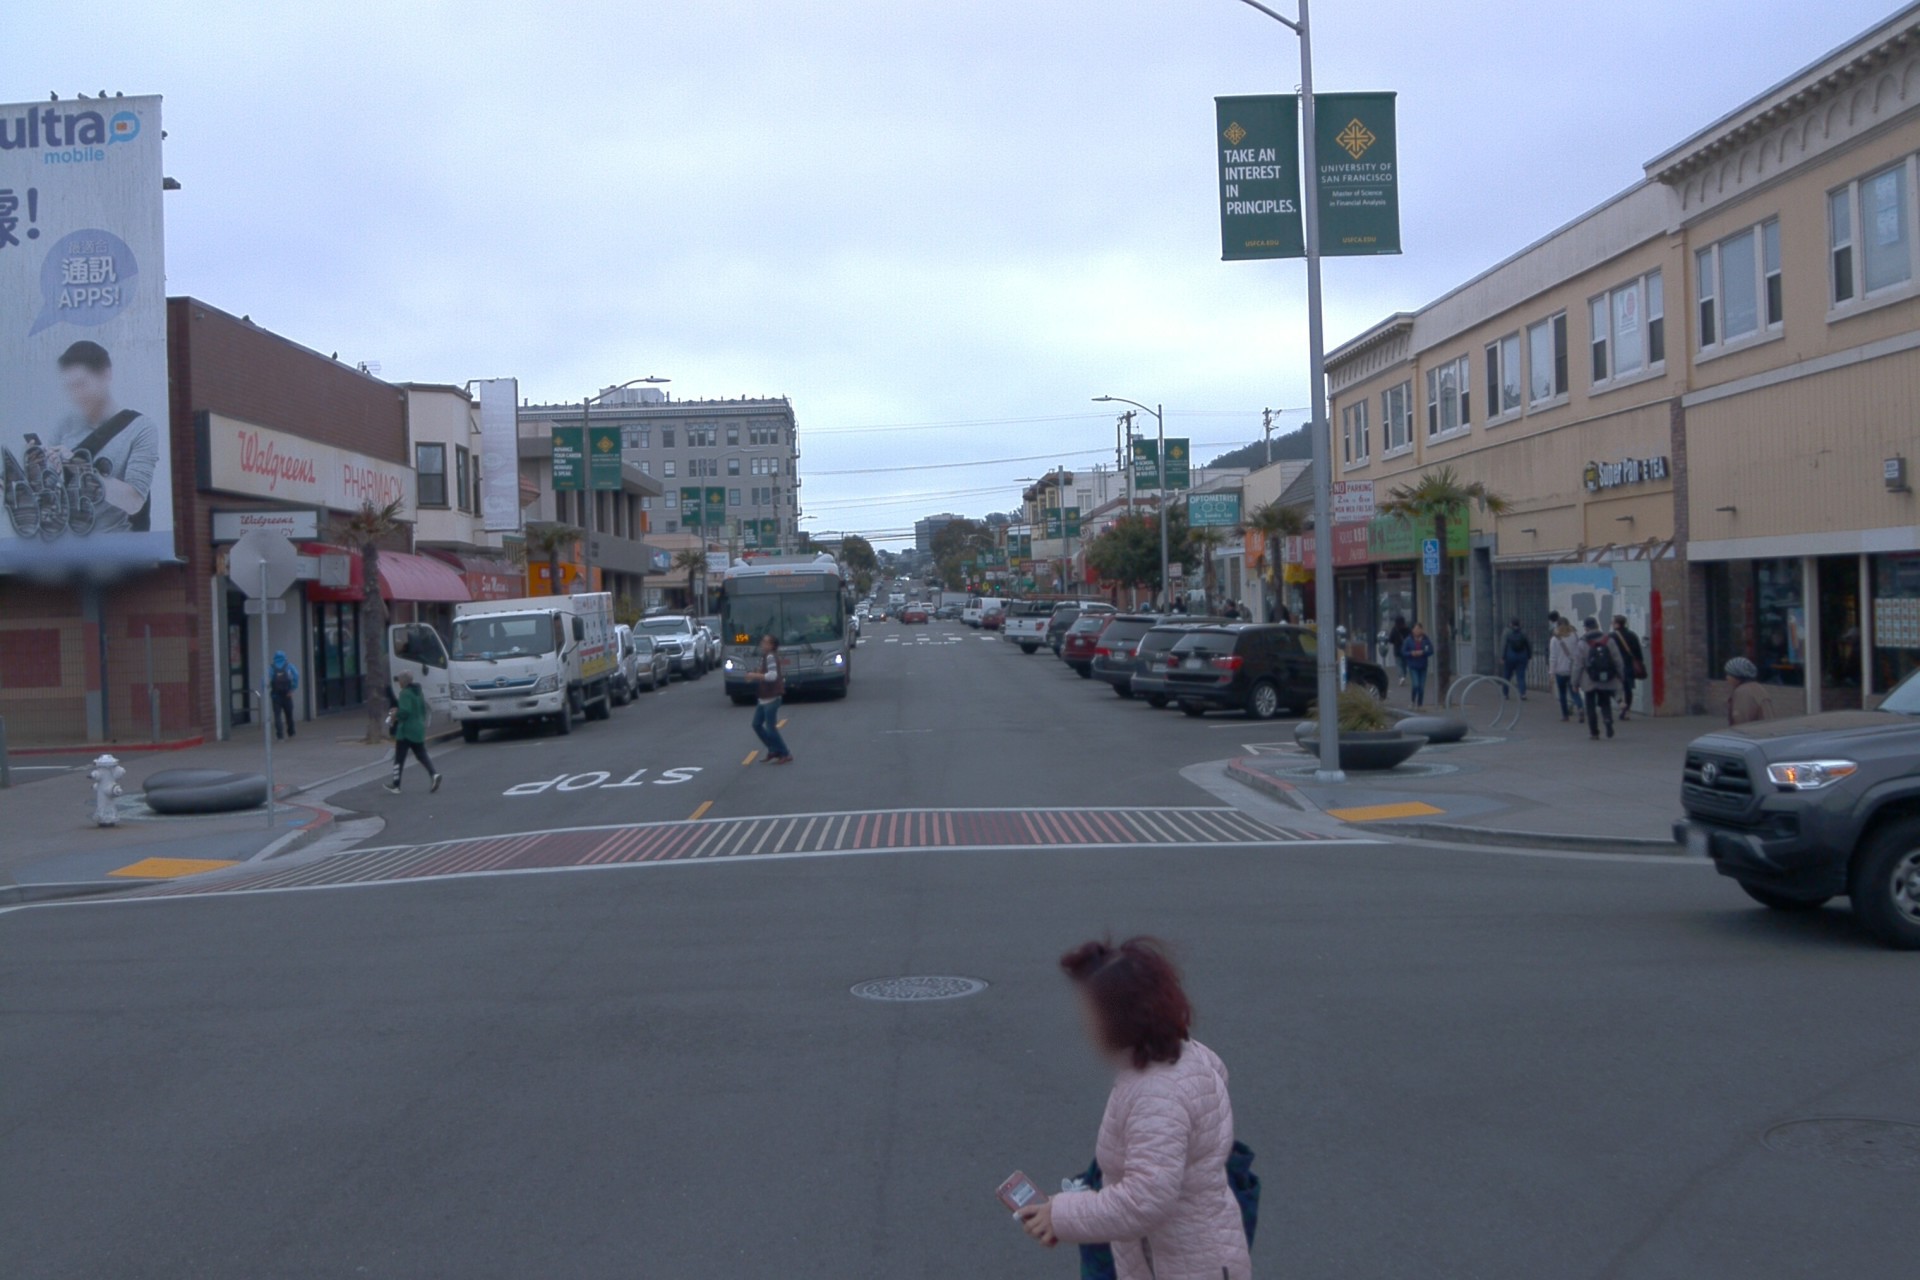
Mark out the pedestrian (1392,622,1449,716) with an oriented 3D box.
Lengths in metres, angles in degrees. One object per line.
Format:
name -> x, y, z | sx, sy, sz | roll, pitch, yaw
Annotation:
pedestrian -> 7.984, 0.493, 35.680 | 0.747, 1.598, 0.778 | 0, 1, -5

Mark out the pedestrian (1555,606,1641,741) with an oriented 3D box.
pedestrian -> 8.512, 0.432, 27.475 | 0.925, 1.770, 0.949 | 0, 1, 6

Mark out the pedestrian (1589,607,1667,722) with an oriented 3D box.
pedestrian -> 10.274, 0.367, 31.642 | 0.952, 1.742, 0.808 | 0, 1, 2

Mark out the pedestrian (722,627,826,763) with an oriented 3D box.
pedestrian -> -2.555, 0.735, 28.171 | 1.259, 1.820, 0.886 | -1, 1, -16

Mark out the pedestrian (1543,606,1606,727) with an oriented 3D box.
pedestrian -> 9.405, 0.399, 31.503 | 0.711, 1.824, 0.916 | 0, 1, 2

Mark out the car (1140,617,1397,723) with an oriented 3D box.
car -> 5.577, 0.482, 36.908 | 4.510, 1.740, 2.044 | -1, 1, -39

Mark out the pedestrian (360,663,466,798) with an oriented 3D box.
pedestrian -> -7.181, 1.167, 26.997 | 1.107, 1.713, 0.764 | 0, 1, 26

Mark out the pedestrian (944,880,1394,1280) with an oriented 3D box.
pedestrian -> 0.462, 1.316, 4.381 | 0.853, 1.479, 0.907 | 0, 1, 9

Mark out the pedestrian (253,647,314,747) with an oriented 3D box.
pedestrian -> -11.788, 0.979, 35.843 | 0.819, 1.710, 0.783 | 0, 1, -3

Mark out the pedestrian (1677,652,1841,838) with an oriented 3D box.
pedestrian -> 6.718, 0.857, 17.293 | 1.065, 1.477, 0.834 | -1, 1, -36
